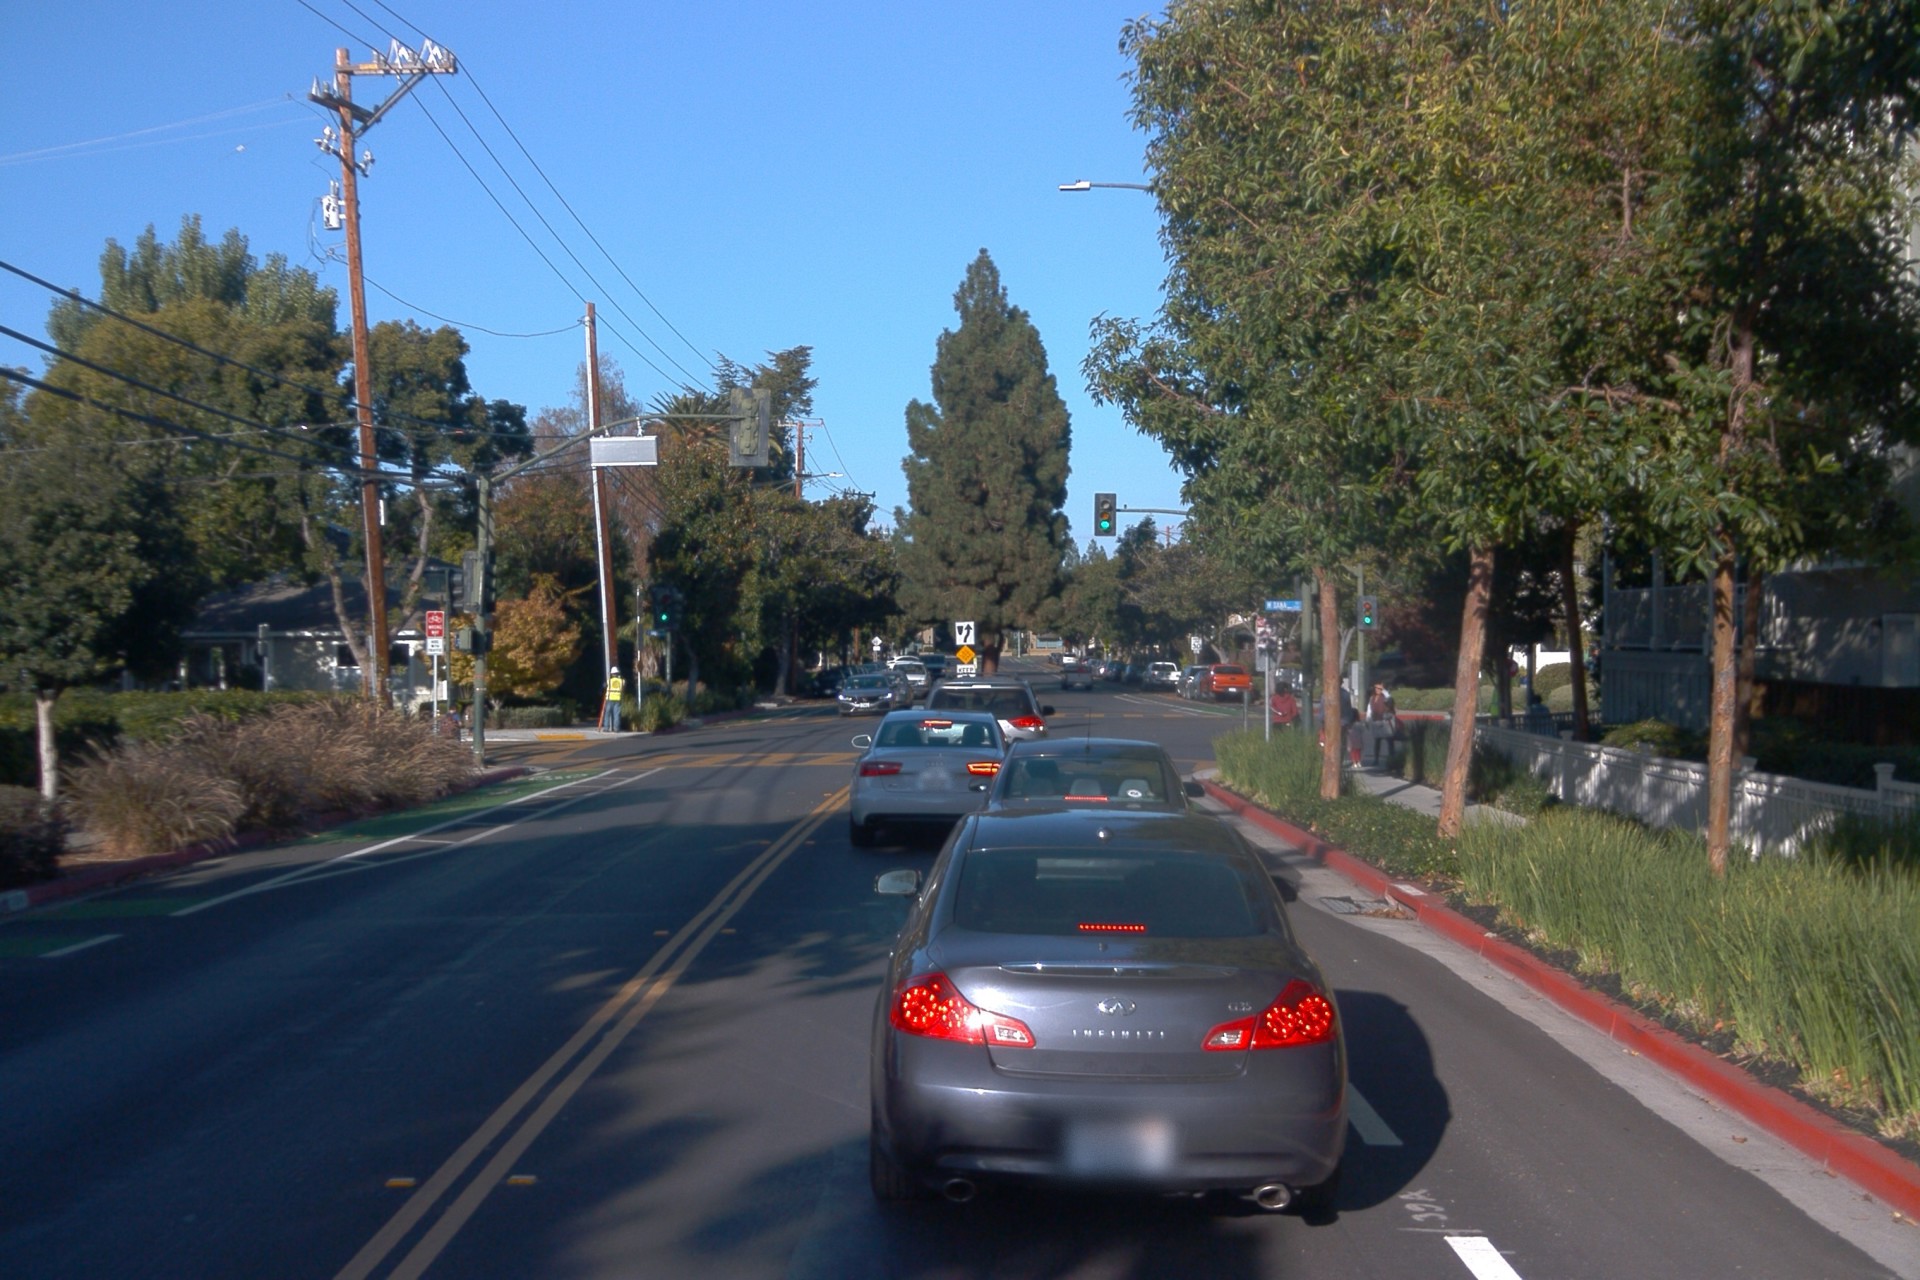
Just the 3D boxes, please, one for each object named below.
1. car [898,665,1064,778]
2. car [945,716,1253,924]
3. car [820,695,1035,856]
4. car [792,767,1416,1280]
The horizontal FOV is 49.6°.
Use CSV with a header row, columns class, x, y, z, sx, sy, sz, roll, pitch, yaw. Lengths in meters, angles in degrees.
class,x,y,z,sx,sy,sz,roll,pitch,yaw
car,0.365,1.176,31.615,2.317,1.510,4.744,1,0,2
car,0.993,1.272,15.845,2.028,1.210,4.035,1,0,2
car,-0.260,1.448,23.532,2.122,1.500,4.397,1,0,3
car,0.567,1.433,9.064,2.033,1.460,4.435,1,0,3
